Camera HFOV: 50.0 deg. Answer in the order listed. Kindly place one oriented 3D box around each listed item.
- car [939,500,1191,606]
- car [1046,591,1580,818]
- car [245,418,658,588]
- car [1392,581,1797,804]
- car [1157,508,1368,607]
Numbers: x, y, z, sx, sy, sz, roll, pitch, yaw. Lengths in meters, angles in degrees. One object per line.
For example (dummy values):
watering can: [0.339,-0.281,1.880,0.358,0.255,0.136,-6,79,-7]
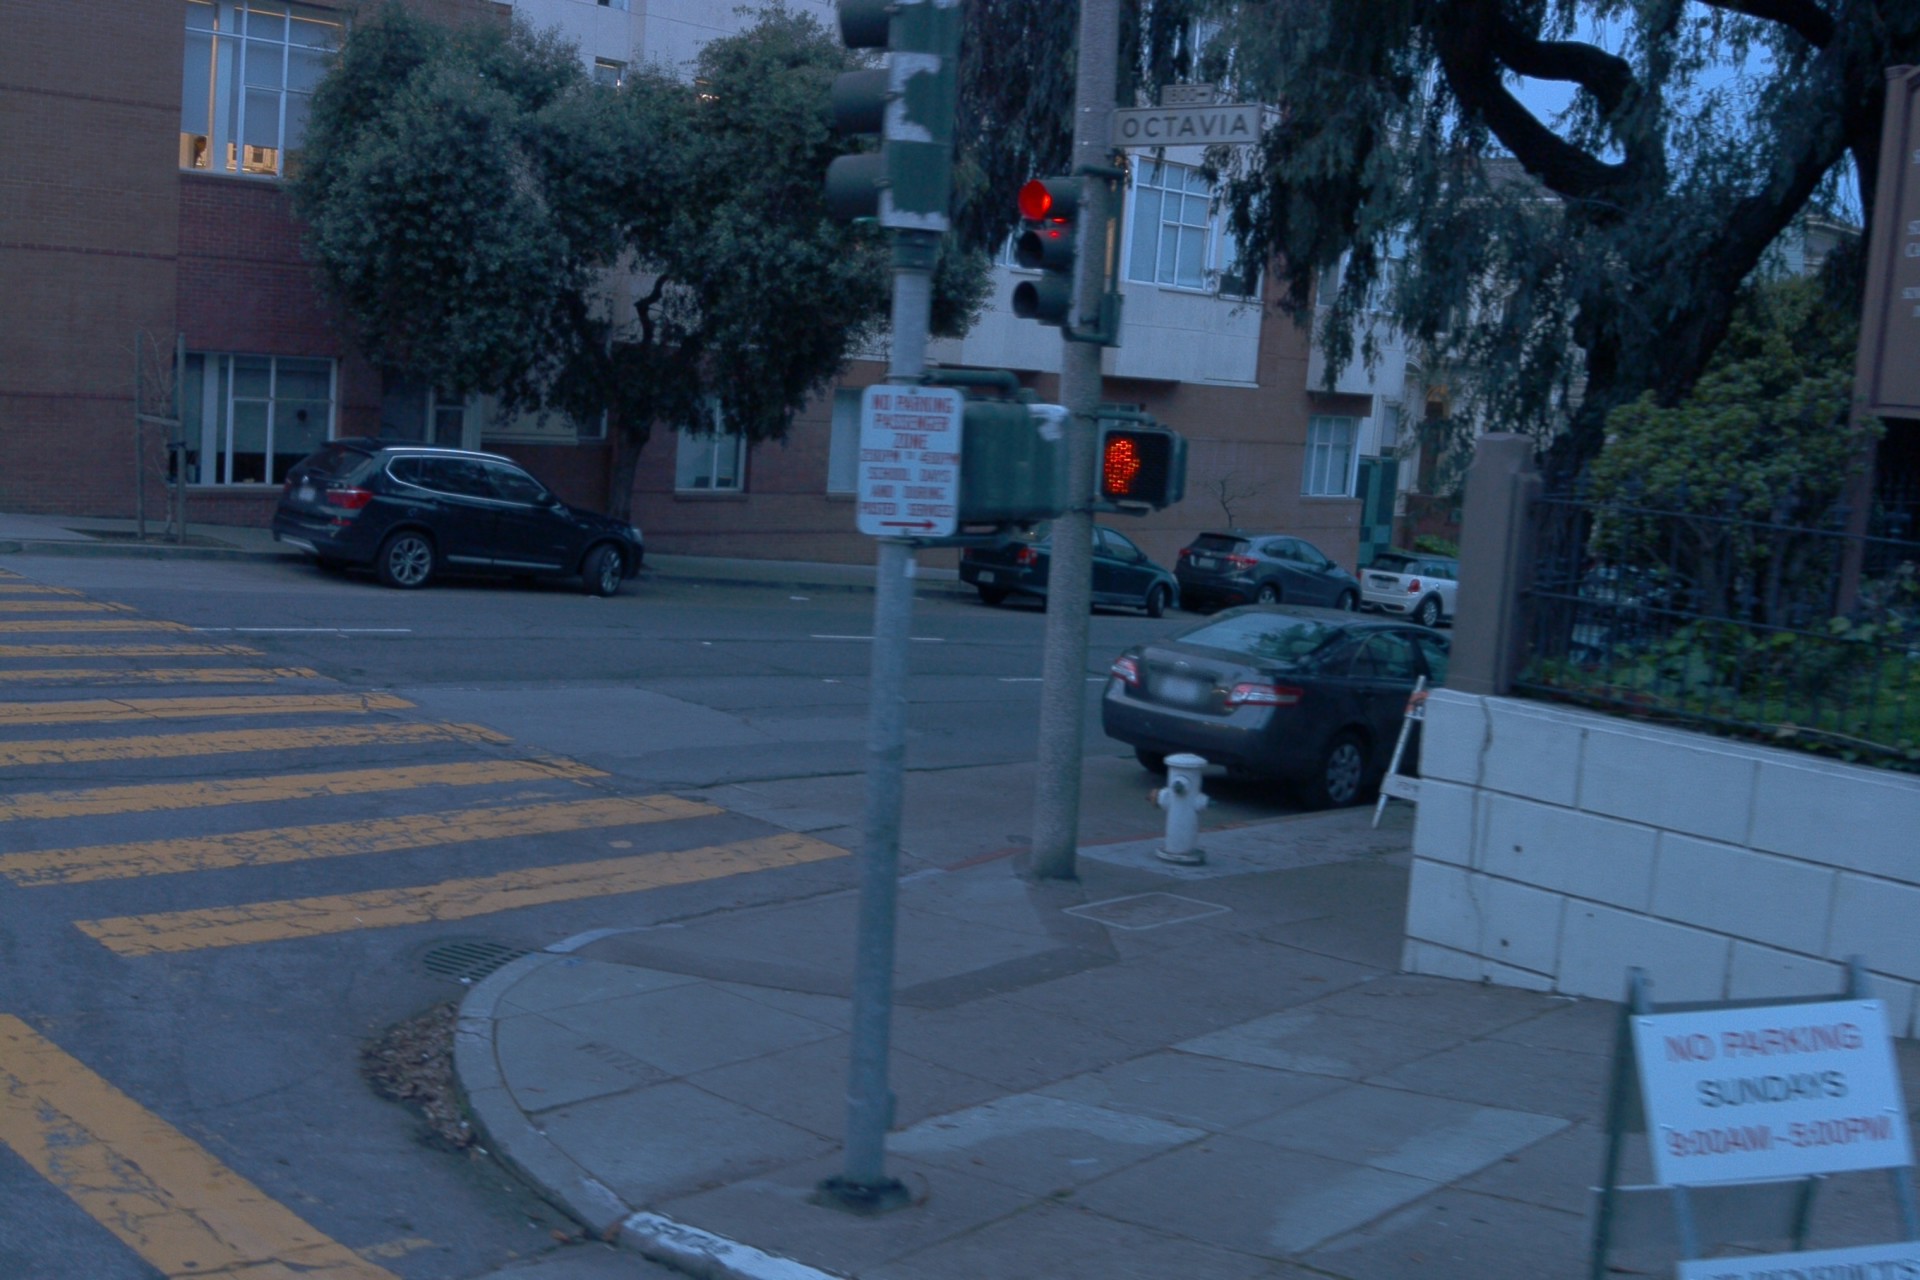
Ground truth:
car: [1.745,-1.350,33.310,3.956,1.560,1.886,0,1,-45]
car: [3.010,0.441,16.838,2.072,1.590,4.609,1,1,43]
car: [-6.117,-1.576,25.129,2.050,1.780,4.500,1,1,43]
car: [6.286,0.445,20.122,2.067,1.940,4.262,1,1,44]
car: [5.541,-1.448,37.454,1.839,1.650,3.967,1,1,43]
